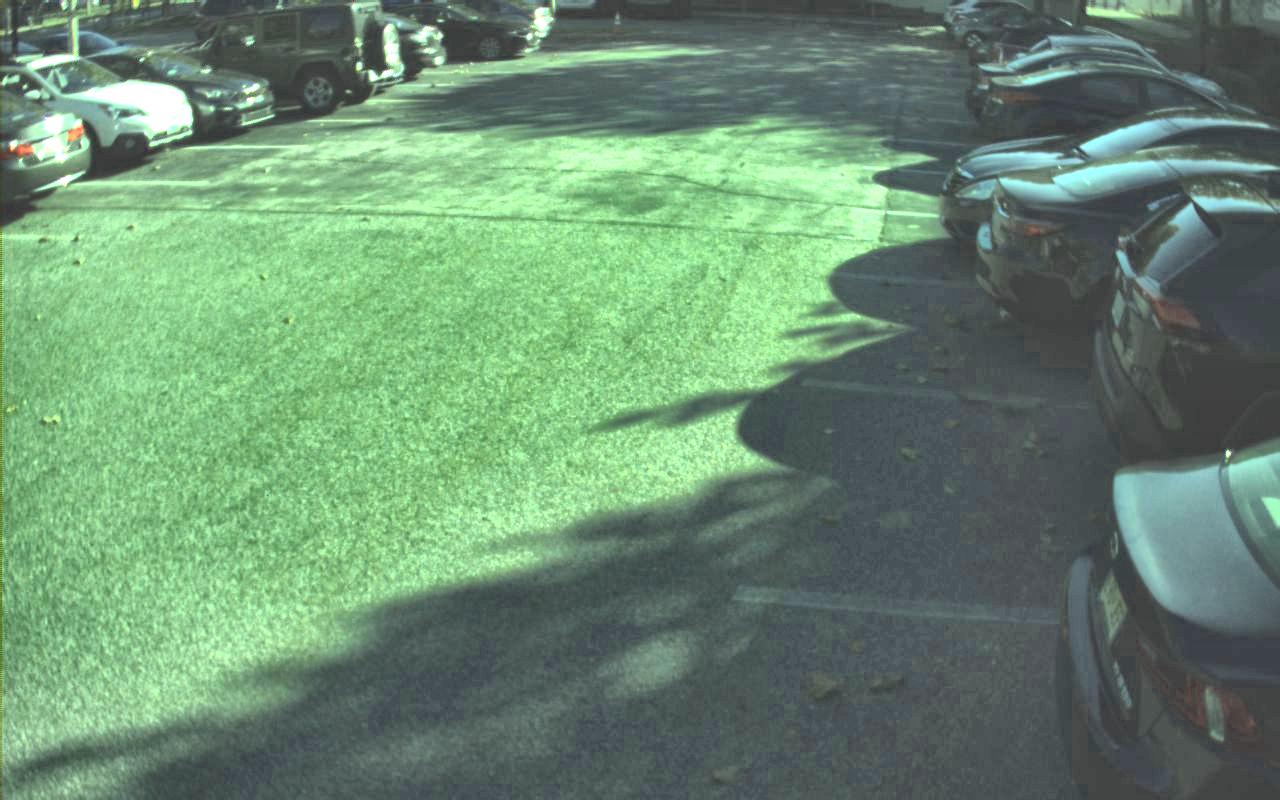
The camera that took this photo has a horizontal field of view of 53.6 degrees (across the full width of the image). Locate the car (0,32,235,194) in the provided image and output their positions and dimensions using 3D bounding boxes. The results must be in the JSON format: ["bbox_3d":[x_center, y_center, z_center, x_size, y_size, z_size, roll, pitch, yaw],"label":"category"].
[{"bbox_3d":[-8.067,-3.947,15.624,4.647,1.747,2.027,3,17,12],"label":"car"}]

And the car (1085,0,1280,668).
[{"bbox_3d":[4.492,-0.590,5.104,4.493,1.769,2.027,2,16,10],"label":"car"}]

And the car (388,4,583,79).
[{"bbox_3d":[-3.776,-8.776,29.906,4.428,1.617,1.965,2,16,9],"label":"car"}]

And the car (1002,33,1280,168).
[{"bbox_3d":[7.592,-4.497,17.192,4.537,1.636,2.015,3,17,14],"label":"car"}]

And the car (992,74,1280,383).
[{"bbox_3d":[4.620,-1.241,7.724,4.436,1.640,1.984,3,17,12],"label":"car"}]

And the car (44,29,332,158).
[{"bbox_3d":[-7.116,-4.718,18.049,4.390,1.589,1.947,3,17,15],"label":"car"}]

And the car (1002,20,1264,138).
[{"bbox_3d":[8.301,-5.444,19.563,4.507,1.631,1.990,3,17,15],"label":"car"}]

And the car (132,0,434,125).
[{"bbox_3d":[-6.188,-5.853,20.326,4.928,1.894,2.097,2,16,10],"label":"car"}]

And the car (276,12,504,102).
[{"bbox_3d":[-5.289,-7.185,25.354,4.464,1.615,1.979,5,17,18],"label":"car"}]

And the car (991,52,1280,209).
[{"bbox_3d":[6.642,-3.492,14.803,4.427,1.592,1.956,3,17,14],"label":"car"}]

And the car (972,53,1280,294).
[{"bbox_3d":[5.103,-2.059,9.973,4.454,1.619,1.987,4,17,17],"label":"car"}]

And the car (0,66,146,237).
[{"bbox_3d":[-8.210,-2.887,12.962,4.596,1.595,1.983,4,17,16],"label":"car"}]
